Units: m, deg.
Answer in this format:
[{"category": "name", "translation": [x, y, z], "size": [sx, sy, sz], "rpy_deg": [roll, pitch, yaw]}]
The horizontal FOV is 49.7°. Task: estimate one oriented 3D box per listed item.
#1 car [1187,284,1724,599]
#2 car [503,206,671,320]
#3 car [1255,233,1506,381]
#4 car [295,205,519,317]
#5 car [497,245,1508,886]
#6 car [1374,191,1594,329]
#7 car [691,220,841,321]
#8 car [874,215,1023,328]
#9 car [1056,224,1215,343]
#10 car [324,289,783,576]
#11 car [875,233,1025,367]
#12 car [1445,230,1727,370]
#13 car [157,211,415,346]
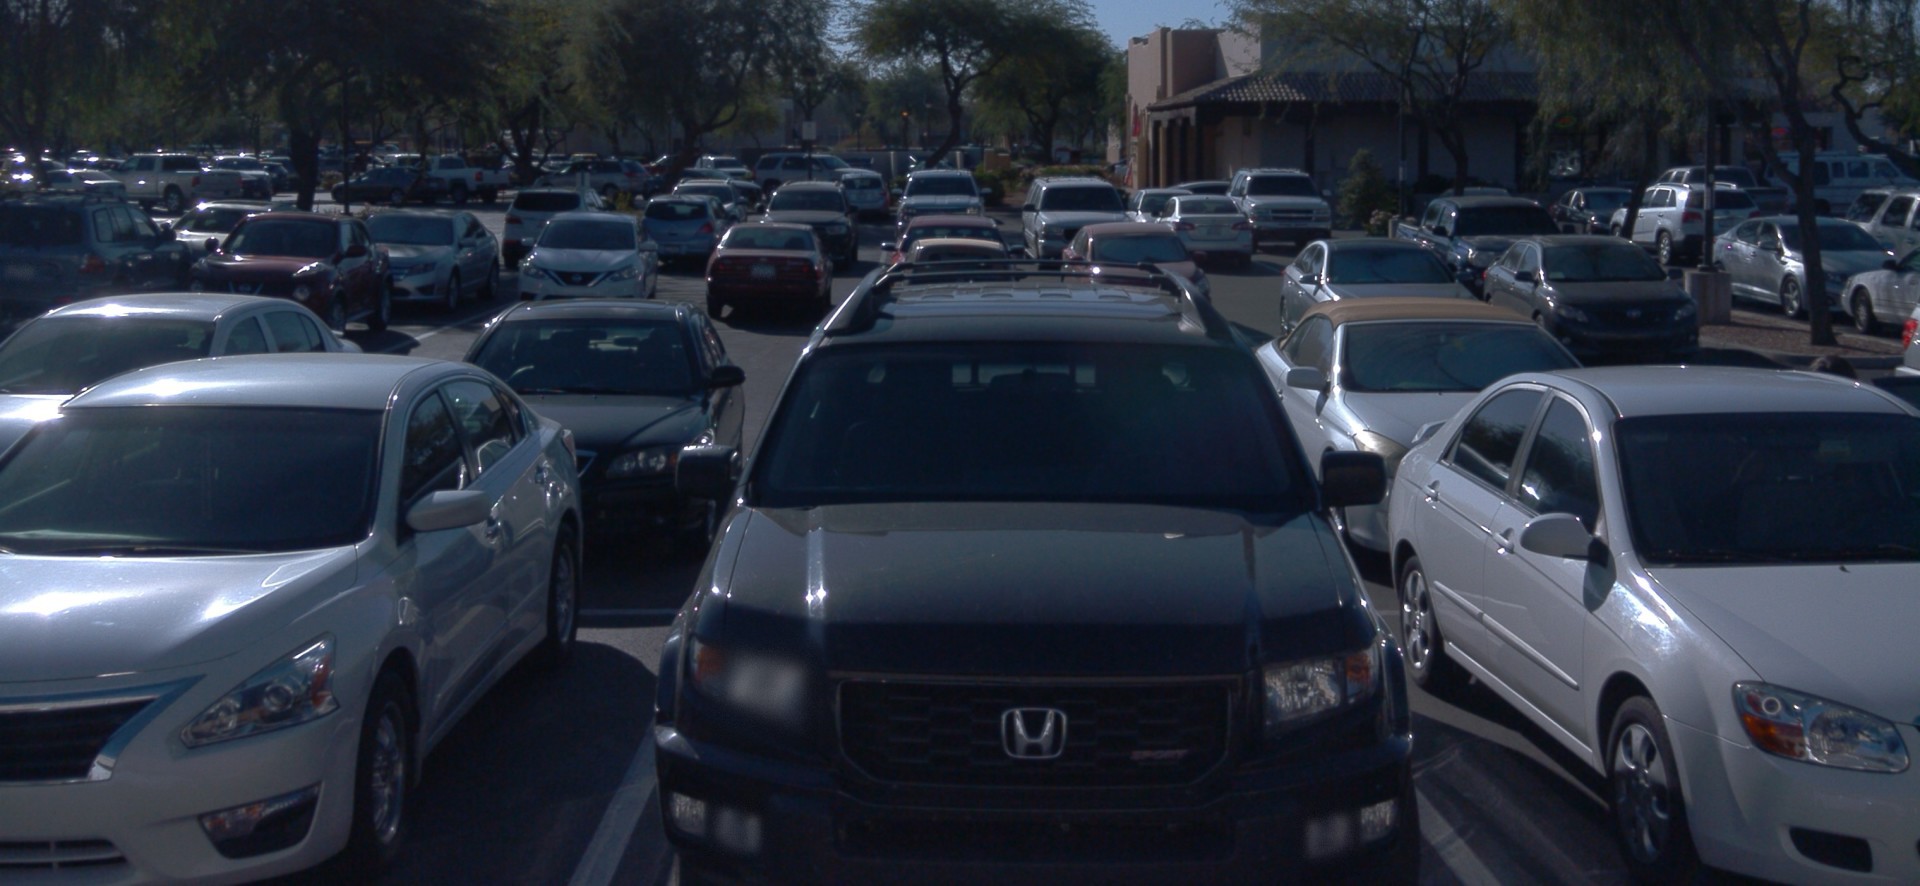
[{"category": "car", "translation": [2.850, -0.184, 13.197], "size": [2.145, 1.483, 4.757], "rpy_deg": [0, 6, -2]}, {"category": "car", "translation": [-5.564, -2.766, 31.457], "size": [2.012, 1.583, 4.469], "rpy_deg": [0, 6, -4]}, {"category": "car", "translation": [5.057, -1.765, 25.660], "size": [2.180, 1.602, 4.849], "rpy_deg": [1, 6, 1]}, {"category": "car", "translation": [-8.238, -2.796, 31.363], "size": [2.117, 1.543, 4.607], "rpy_deg": [1, 6, 0]}, {"category": "car", "translation": [0.152, 0.280, 7.455], "size": [2.308, 1.891, 5.390], "rpy_deg": [1, 6, 1]}, {"category": "car", "translation": [7.868, -2.840, 31.706], "size": [2.086, 1.901, 5.341], "rpy_deg": [1, 5, 1]}, {"category": "car", "translation": [-2.905, -2.703, 31.891], "size": [1.906, 1.433, 4.261], "rpy_deg": [1, 6, 0]}, {"category": "car", "translation": [-0.127, -2.682, 31.689], "size": [2.086, 1.562, 4.912], "rpy_deg": [1, 6, 1]}, {"category": "car", "translation": [2.501, -2.422, 30.650], "size": [2.010, 1.593, 4.473], "rpy_deg": [1, 5, 1]}, {"category": "car", "translation": [-2.353, -0.221, 13.285], "size": [2.005, 1.353, 4.568], "rpy_deg": [1, 6, 0]}, {"category": "car", "translation": [-0.060, -1.876, 26.274], "size": [1.730, 1.533, 3.844], "rpy_deg": [1, 5, 2]}, {"category": "car", "translation": [7.617, -1.848, 25.753], "size": [2.083, 1.543, 4.564], "rpy_deg": [1, 6, -1]}, {"category": "car", "translation": [-8.276, -2.105, 25.860], "size": [1.980, 1.523, 4.065], "rpy_deg": [0, 5, -2]}]
